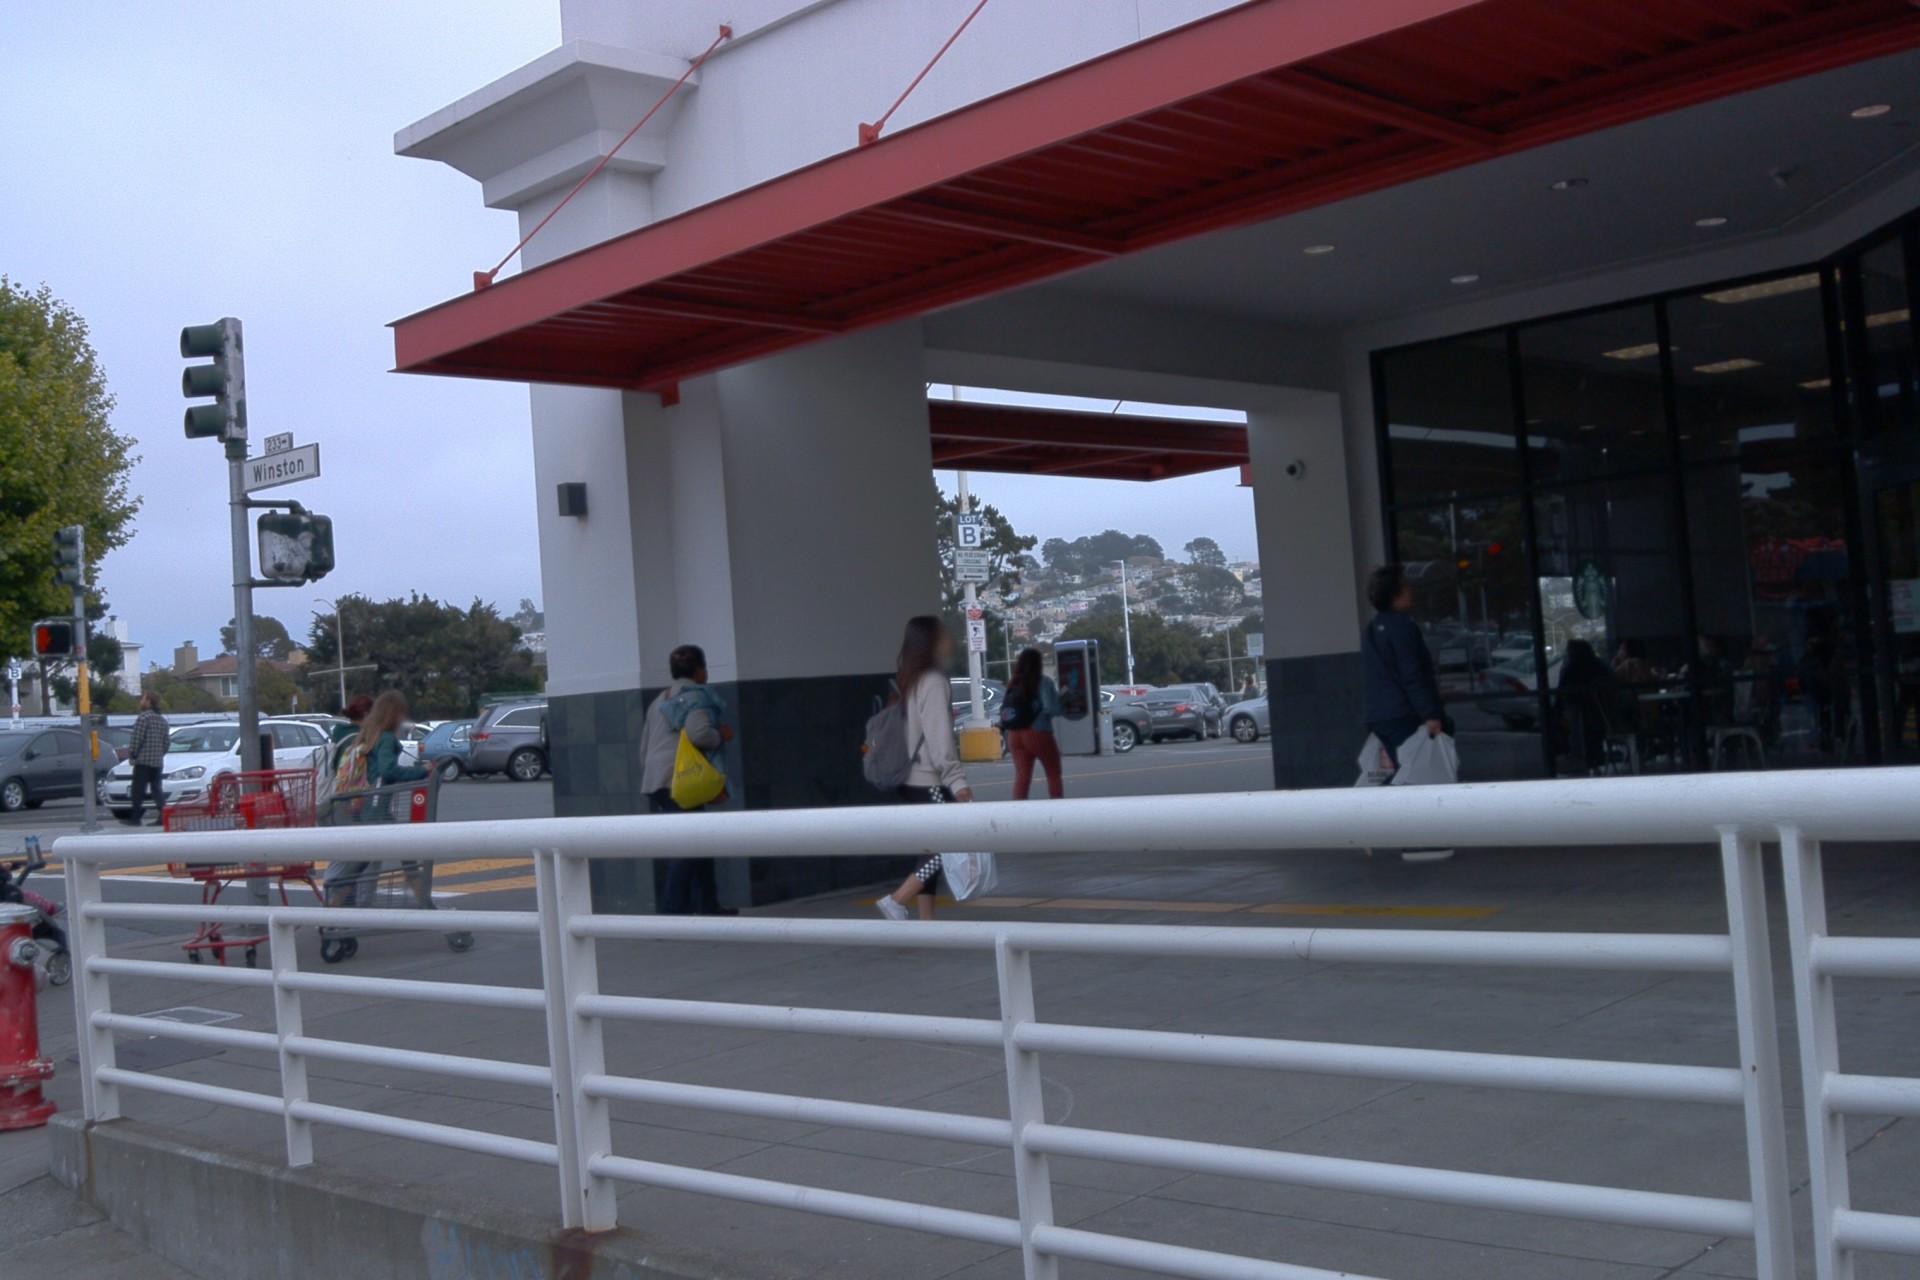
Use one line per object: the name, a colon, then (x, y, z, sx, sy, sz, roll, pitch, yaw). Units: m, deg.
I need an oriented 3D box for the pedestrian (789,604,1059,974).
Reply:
pedestrian: (-0.171, 0.630, 9.376, 0.951, 1.580, 0.818, 0, 0, -29)

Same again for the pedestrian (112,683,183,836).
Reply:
pedestrian: (-10.425, 1.520, 26.387, 0.618, 1.900, 0.743, 0, 0, -1)

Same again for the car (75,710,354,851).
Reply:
car: (-11.161, 2.049, 31.136, 1.974, 1.760, 4.391, 0, 1, 12)

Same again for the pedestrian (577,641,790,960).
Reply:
pedestrian: (-1.456, 0.799, 10.815, 0.808, 1.580, 0.787, 0, 0, -39)

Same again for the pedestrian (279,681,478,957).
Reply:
pedestrian: (-3.512, 1.046, 12.432, 0.971, 1.560, 0.650, 0, 0, -40)

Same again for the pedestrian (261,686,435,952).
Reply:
pedestrian: (-3.834, 1.089, 12.889, 0.820, 1.560, 0.700, 0, 0, -42)

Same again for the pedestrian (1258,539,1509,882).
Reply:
pedestrian: (2.238, 0.349, 10.953, 0.951, 1.730, 0.955, 0, 0, -17)

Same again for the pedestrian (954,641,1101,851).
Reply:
pedestrian: (0.556, 0.835, 16.871, 0.789, 1.650, 0.936, 0, 0, 41)
